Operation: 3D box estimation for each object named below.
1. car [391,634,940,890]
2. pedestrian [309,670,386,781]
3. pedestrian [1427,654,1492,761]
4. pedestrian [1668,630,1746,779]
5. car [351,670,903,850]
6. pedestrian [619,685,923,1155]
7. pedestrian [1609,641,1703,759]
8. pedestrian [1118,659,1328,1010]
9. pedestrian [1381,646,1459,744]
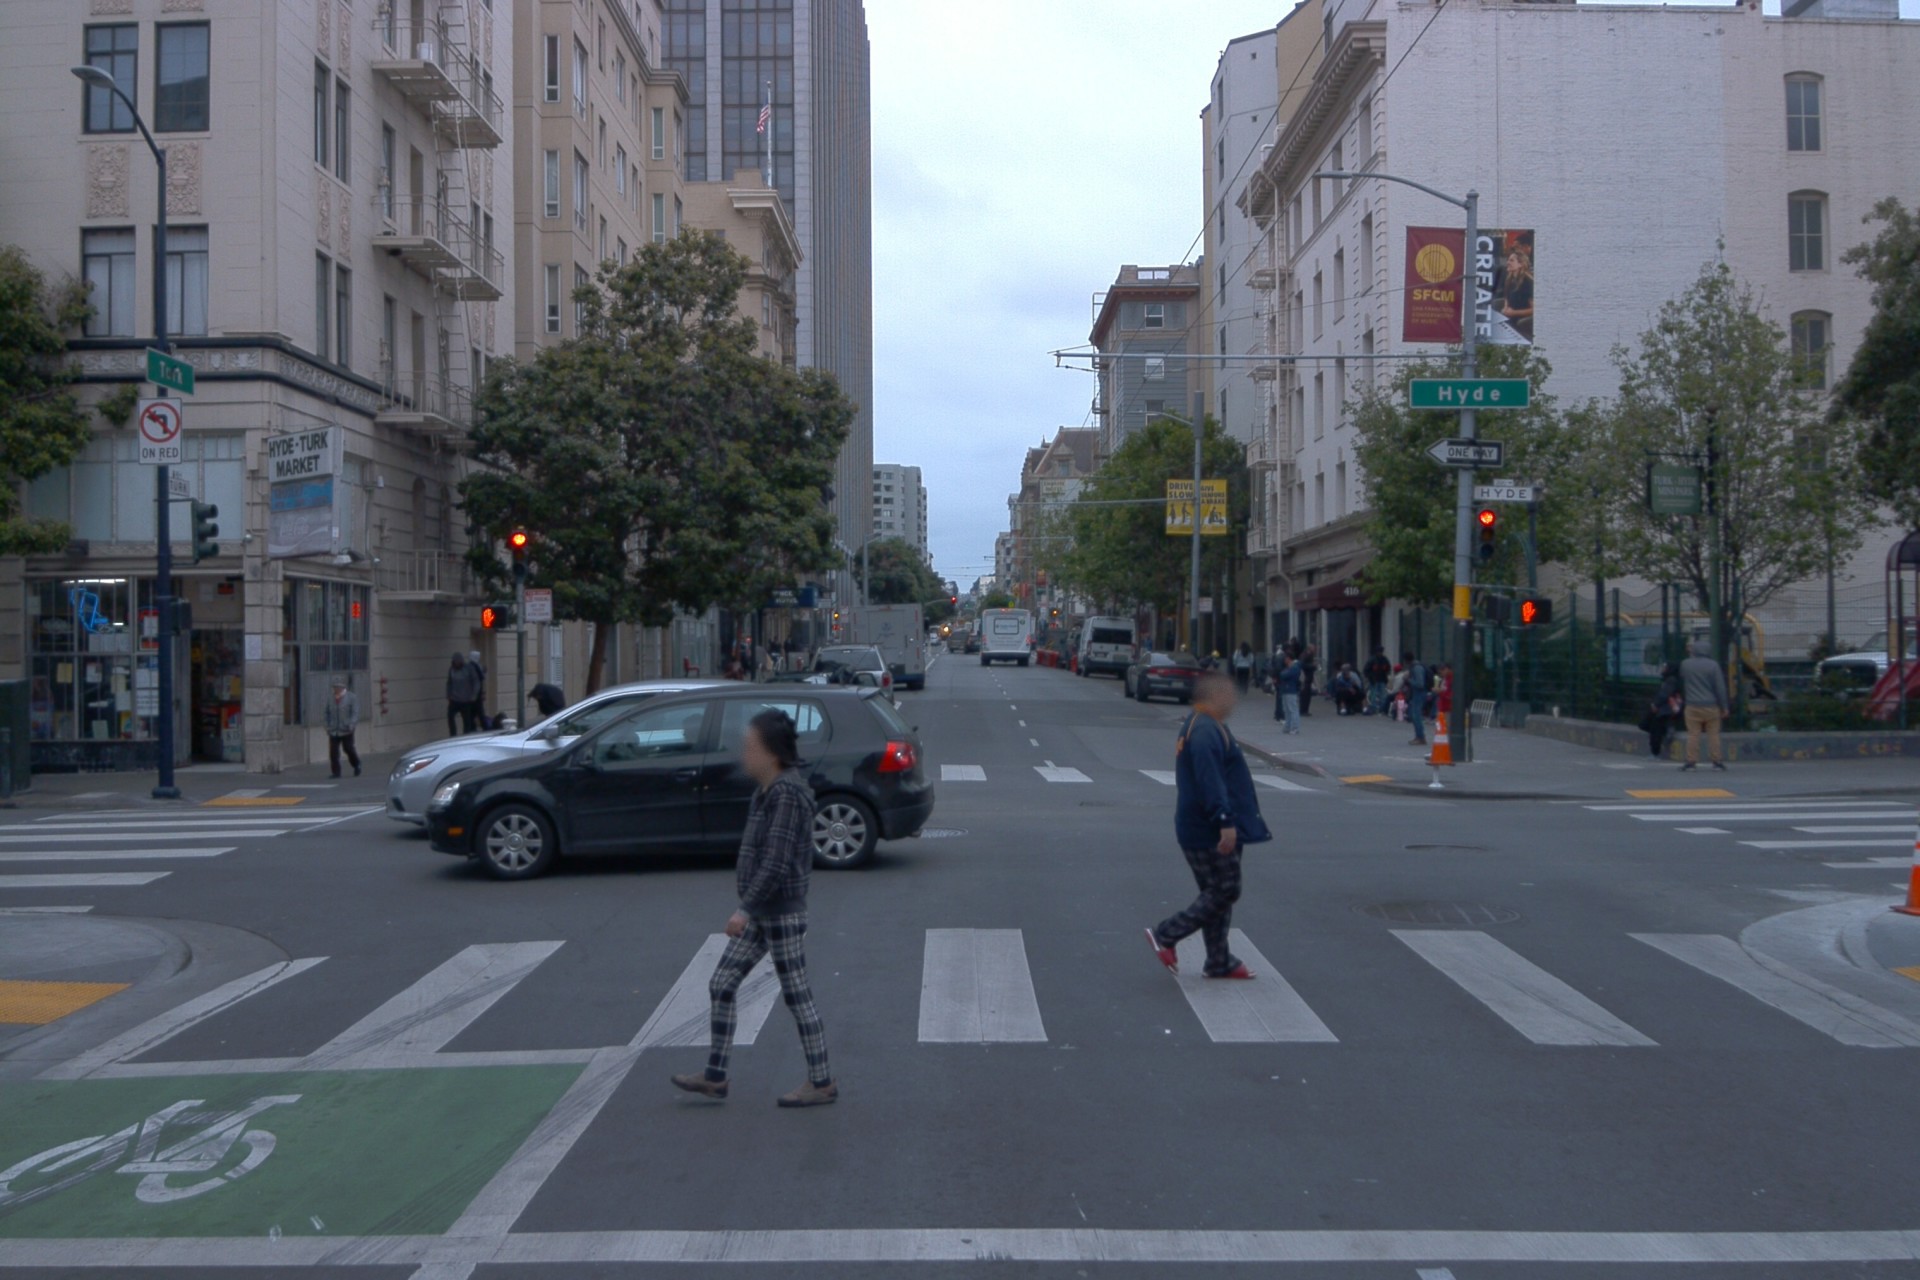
[{"bbox_3d":[-2.299,0.949,16.880,4.214,1.950,1.862,0,1,1],"label":"car"},{"bbox_3d":[-9.149,1.271,30.740,0.870,1.620,0.823,0,1,3],"label":"pedestrian"},{"bbox_3d":[7.726,1.034,31.851,0.906,1.620,0.868,0,1,9],"label":"pedestrian"},{"bbox_3d":[10.313,0.866,28.374,0.836,2.010,0.795,0,1,34],"label":"pedestrian"},{"bbox_3d":[-3.057,1.108,19.696,4.933,1.550,2.046,0,1,1],"label":"car"},{"bbox_3d":[-0.808,1.092,8.514,1.092,1.760,0.989,-1,1,-15],"label":"pedestrian"},{"bbox_3d":[10.505,0.888,31.031,0.943,1.720,0.965,-1,1,-33],"label":"pedestrian"},{"bbox_3d":[1.396,1.014,11.114,1.035,1.800,0.907,0,1,2],"label":"pedestrian"},{"bbox_3d":[8.285,0.978,37.050,0.930,1.710,1.049,-1,1,-21],"label":"pedestrian"}]
